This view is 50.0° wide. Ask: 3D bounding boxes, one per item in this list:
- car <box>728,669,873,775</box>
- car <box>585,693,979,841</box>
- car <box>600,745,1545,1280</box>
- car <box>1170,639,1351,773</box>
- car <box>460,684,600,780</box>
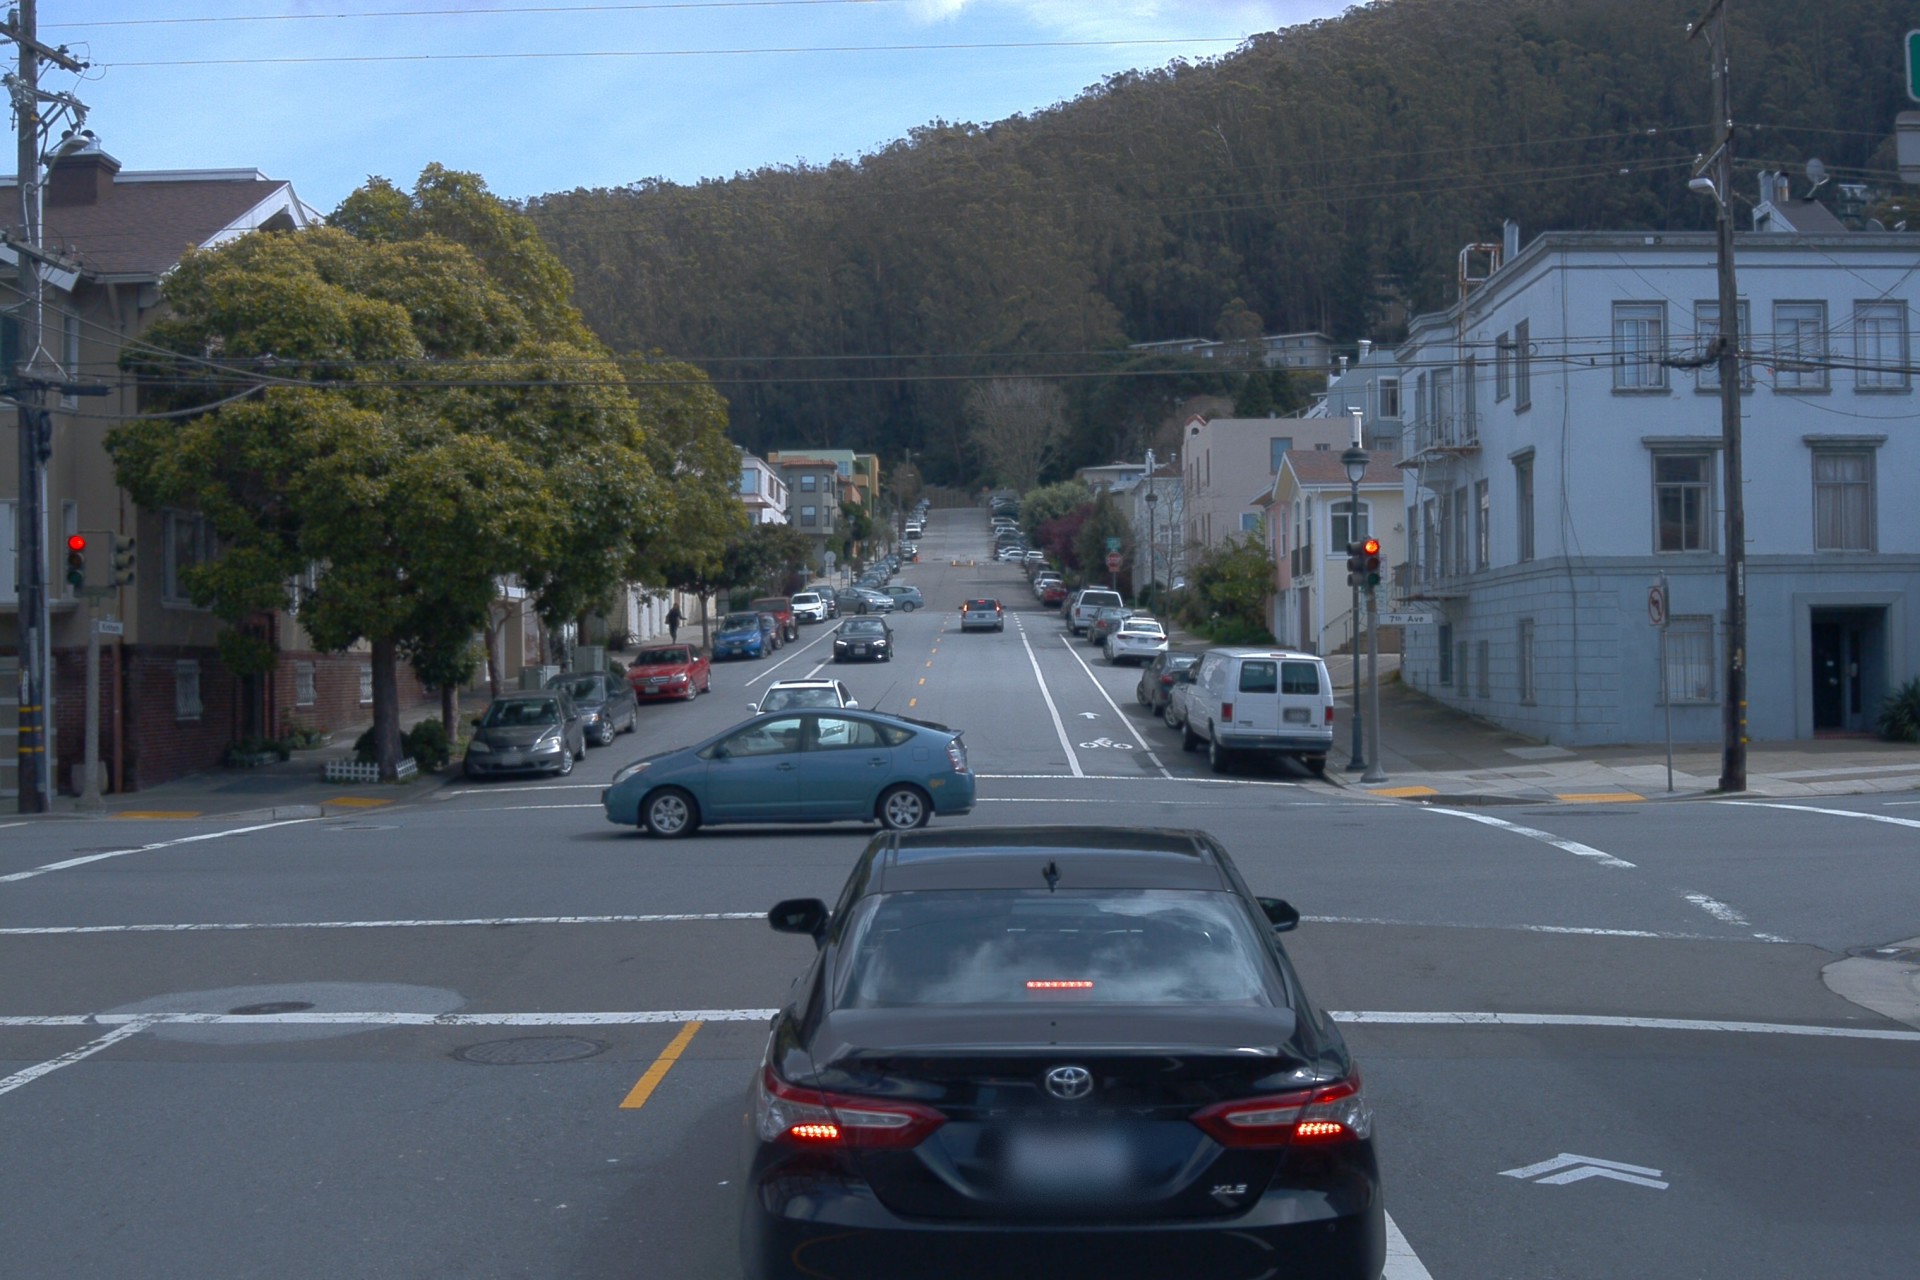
[{"bbox_3d":[-2.840,1.440,37.705,2.209,1.750,4.541,0,0,1],"label":"car"},{"bbox_3d":[-1.982,1.449,24.037,4.413,1.600,1.991,0,0,0],"label":"car"},{"bbox_3d":[0.282,1.304,7.305,2.249,1.620,4.798,0,0,0],"label":"car"},{"bbox_3d":[5.314,1.112,37.227,2.299,2.250,5.313,0,0,-2],"label":"car"},{"bbox_3d":[-7.707,1.617,37.254,1.836,1.560,4.133,0,0,-3],"label":"car"}]
